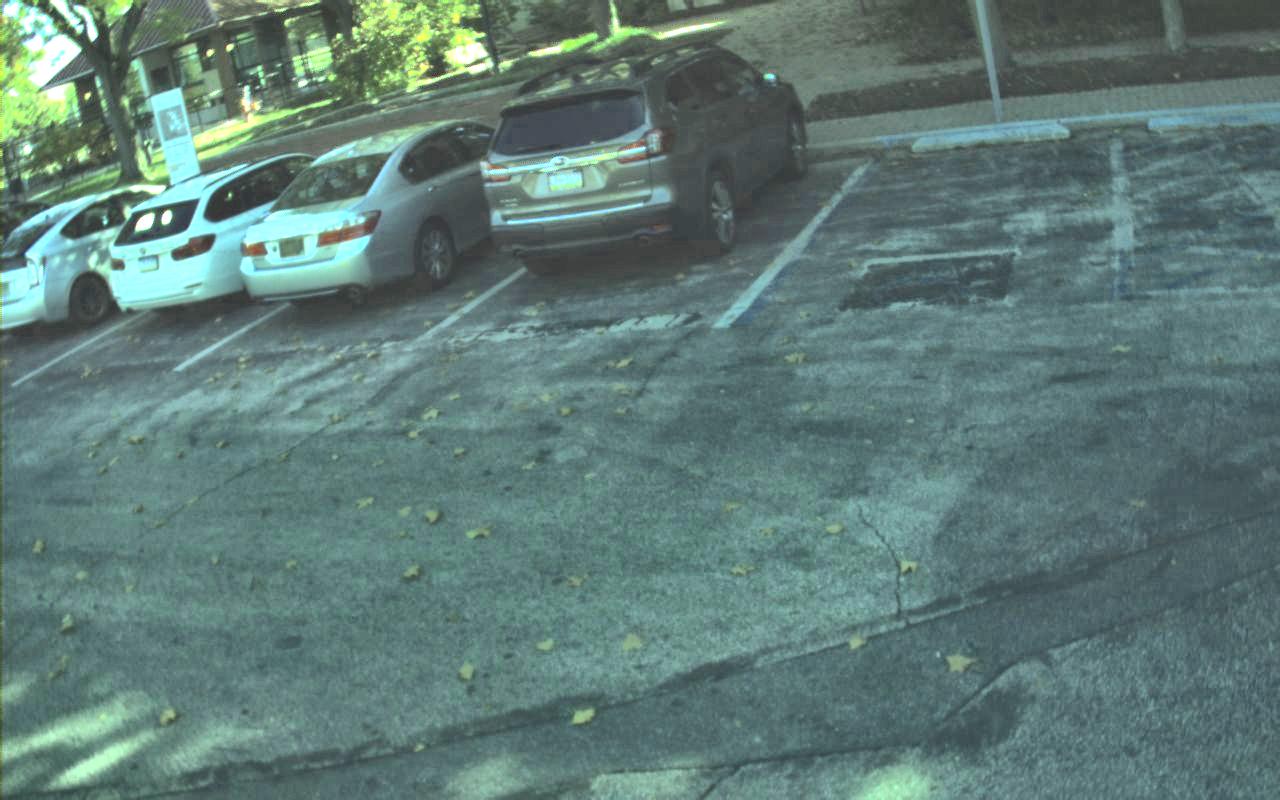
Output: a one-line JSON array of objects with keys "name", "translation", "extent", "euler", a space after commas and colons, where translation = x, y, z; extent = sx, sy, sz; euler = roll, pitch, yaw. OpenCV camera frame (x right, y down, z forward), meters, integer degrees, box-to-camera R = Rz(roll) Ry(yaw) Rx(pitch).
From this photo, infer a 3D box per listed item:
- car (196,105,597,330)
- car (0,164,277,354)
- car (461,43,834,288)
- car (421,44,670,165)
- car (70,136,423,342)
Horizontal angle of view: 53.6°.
[{"name": "car", "translation": [-2.317, -2.063, 12.702], "extent": [1.916, 1.587, 4.461], "euler": [6, 18, 24]}, {"name": "car", "translation": [-6.908, -1.974, 15.333], "extent": [1.949, 1.607, 4.462], "euler": [6, 18, 22]}, {"name": "car", "translation": [0.357, -2.463, 11.831], "extent": [2.031, 1.795, 4.763], "euler": [5, 18, 20]}, {"name": "car", "translation": [-1.334, -4.719, 19.402], "extent": [1.999, 1.592, 4.581], "euler": [6, 18, 23]}, {"name": "car", "translation": [-4.495, -2.037, 14.168], "extent": [1.921, 1.613, 4.434], "euler": [5, 18, 20]}]
